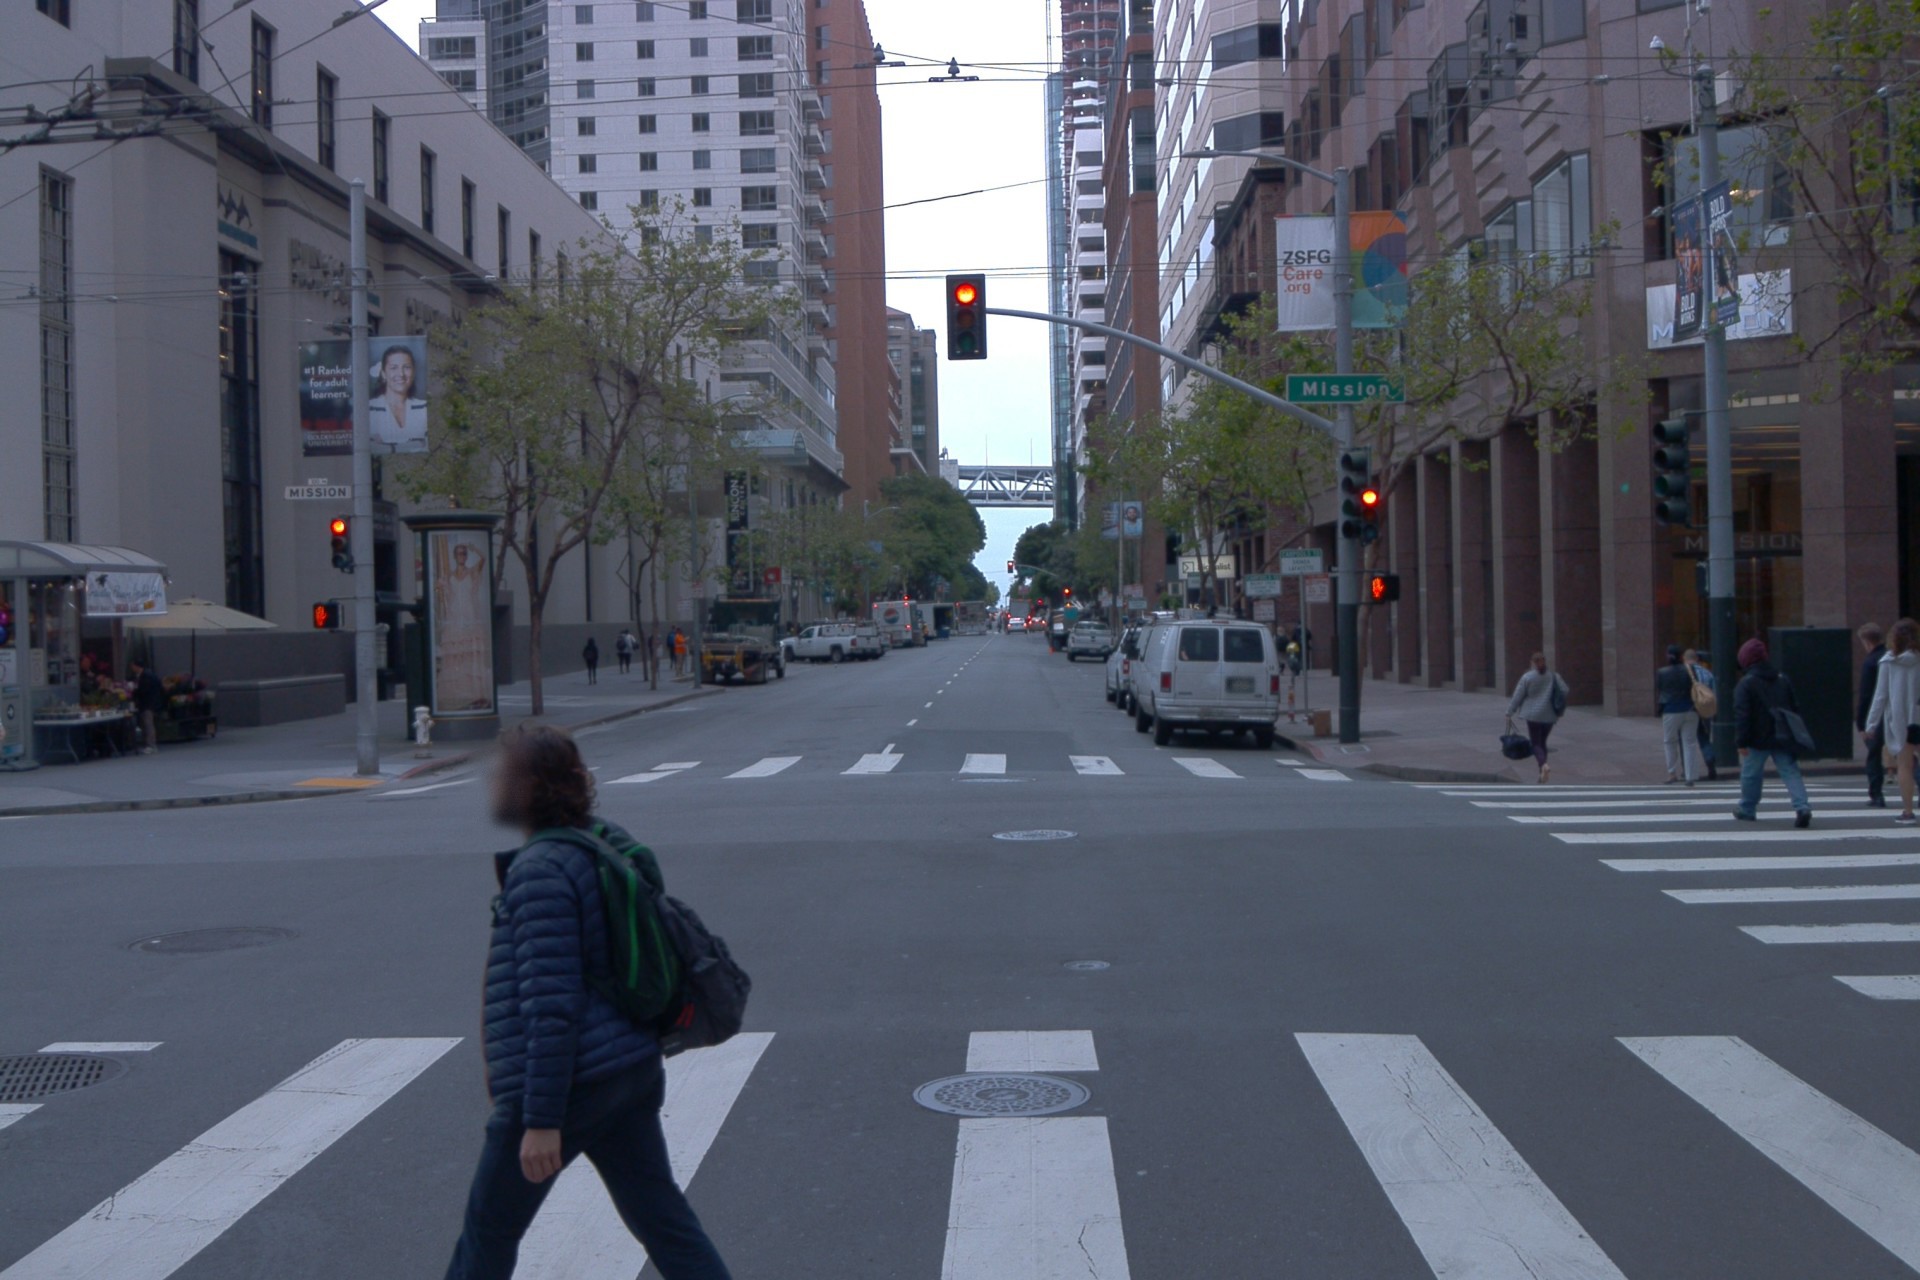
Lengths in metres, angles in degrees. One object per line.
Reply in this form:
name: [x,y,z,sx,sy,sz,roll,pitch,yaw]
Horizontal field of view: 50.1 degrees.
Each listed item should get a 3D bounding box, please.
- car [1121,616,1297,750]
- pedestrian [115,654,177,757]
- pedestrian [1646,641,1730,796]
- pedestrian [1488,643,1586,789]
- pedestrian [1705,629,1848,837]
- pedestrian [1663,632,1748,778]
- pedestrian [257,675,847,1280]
car: [4.166,0.653,35.321,2.314,2.100,5.500,0,1,0]
pedestrian: [-14.102,1.124,35.621,0.752,1.746,0.847,0,1,-3]
pedestrian: [8.009,0.847,22.646,0.668,1.666,0.852,0,1,4]
pedestrian: [6.877,0.891,24.560,0.919,1.696,0.981,0,1,2]
pedestrian: [6.944,0.764,17.526,0.756,1.713,0.970,0,1,-6]
pedestrian: [9.218,0.786,25.447,0.725,1.766,0.971,0,1,2]
pedestrian: [-0.956,1.084,5.026,1.166,1.969,0.843,0,1,13]
